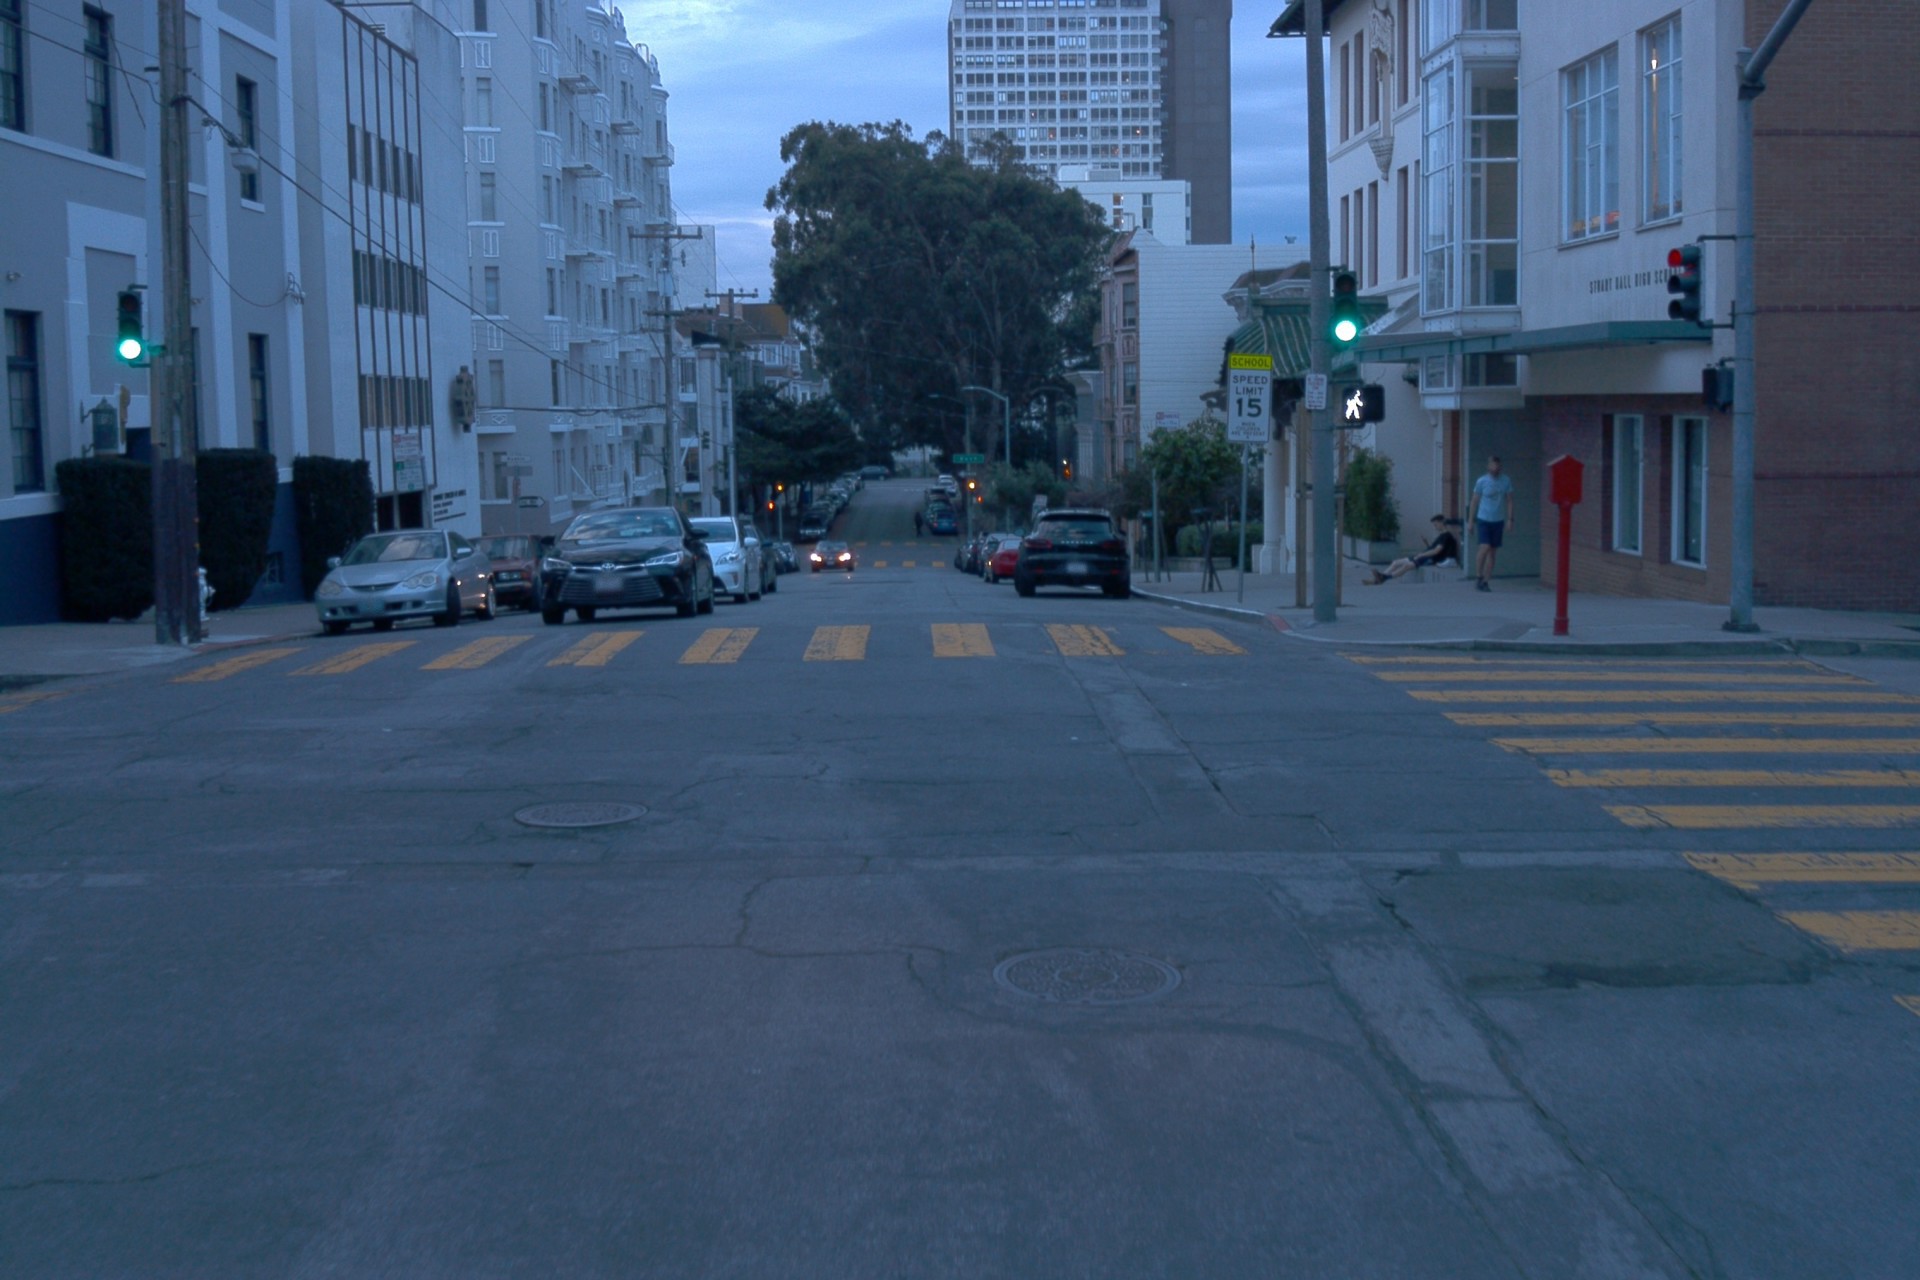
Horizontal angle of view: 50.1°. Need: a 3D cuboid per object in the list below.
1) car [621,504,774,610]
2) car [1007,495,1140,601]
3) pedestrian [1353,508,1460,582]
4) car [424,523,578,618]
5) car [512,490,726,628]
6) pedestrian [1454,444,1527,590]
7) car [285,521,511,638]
[{"bbox_3d":[-4.275,-1.327,34.132,2.034,1.600,4.431,1,1,-1],"label":"car"},{"bbox_3d":[1.986,-1.617,37.374,2.188,1.760,4.713,1,1,1],"label":"car"},{"bbox_3d":[7.559,-1.599,34.881,1.524,1.200,1.090,1,1,-2],"label":"pedestrian"},{"bbox_3d":[-7.752,-1.151,35.090,1.773,1.480,4.408,1,1,-2],"label":"car"},{"bbox_3d":[-4.162,-0.965,25.832,2.144,1.530,4.749,1,1,-3],"label":"car"},{"bbox_3d":[7.588,-1.744,29.441,0.836,2.020,1.186,1,1,8],"label":"pedestrian"},{"bbox_3d":[-7.588,-0.805,28.221,1.992,1.450,4.399,1,1,-2],"label":"car"}]
